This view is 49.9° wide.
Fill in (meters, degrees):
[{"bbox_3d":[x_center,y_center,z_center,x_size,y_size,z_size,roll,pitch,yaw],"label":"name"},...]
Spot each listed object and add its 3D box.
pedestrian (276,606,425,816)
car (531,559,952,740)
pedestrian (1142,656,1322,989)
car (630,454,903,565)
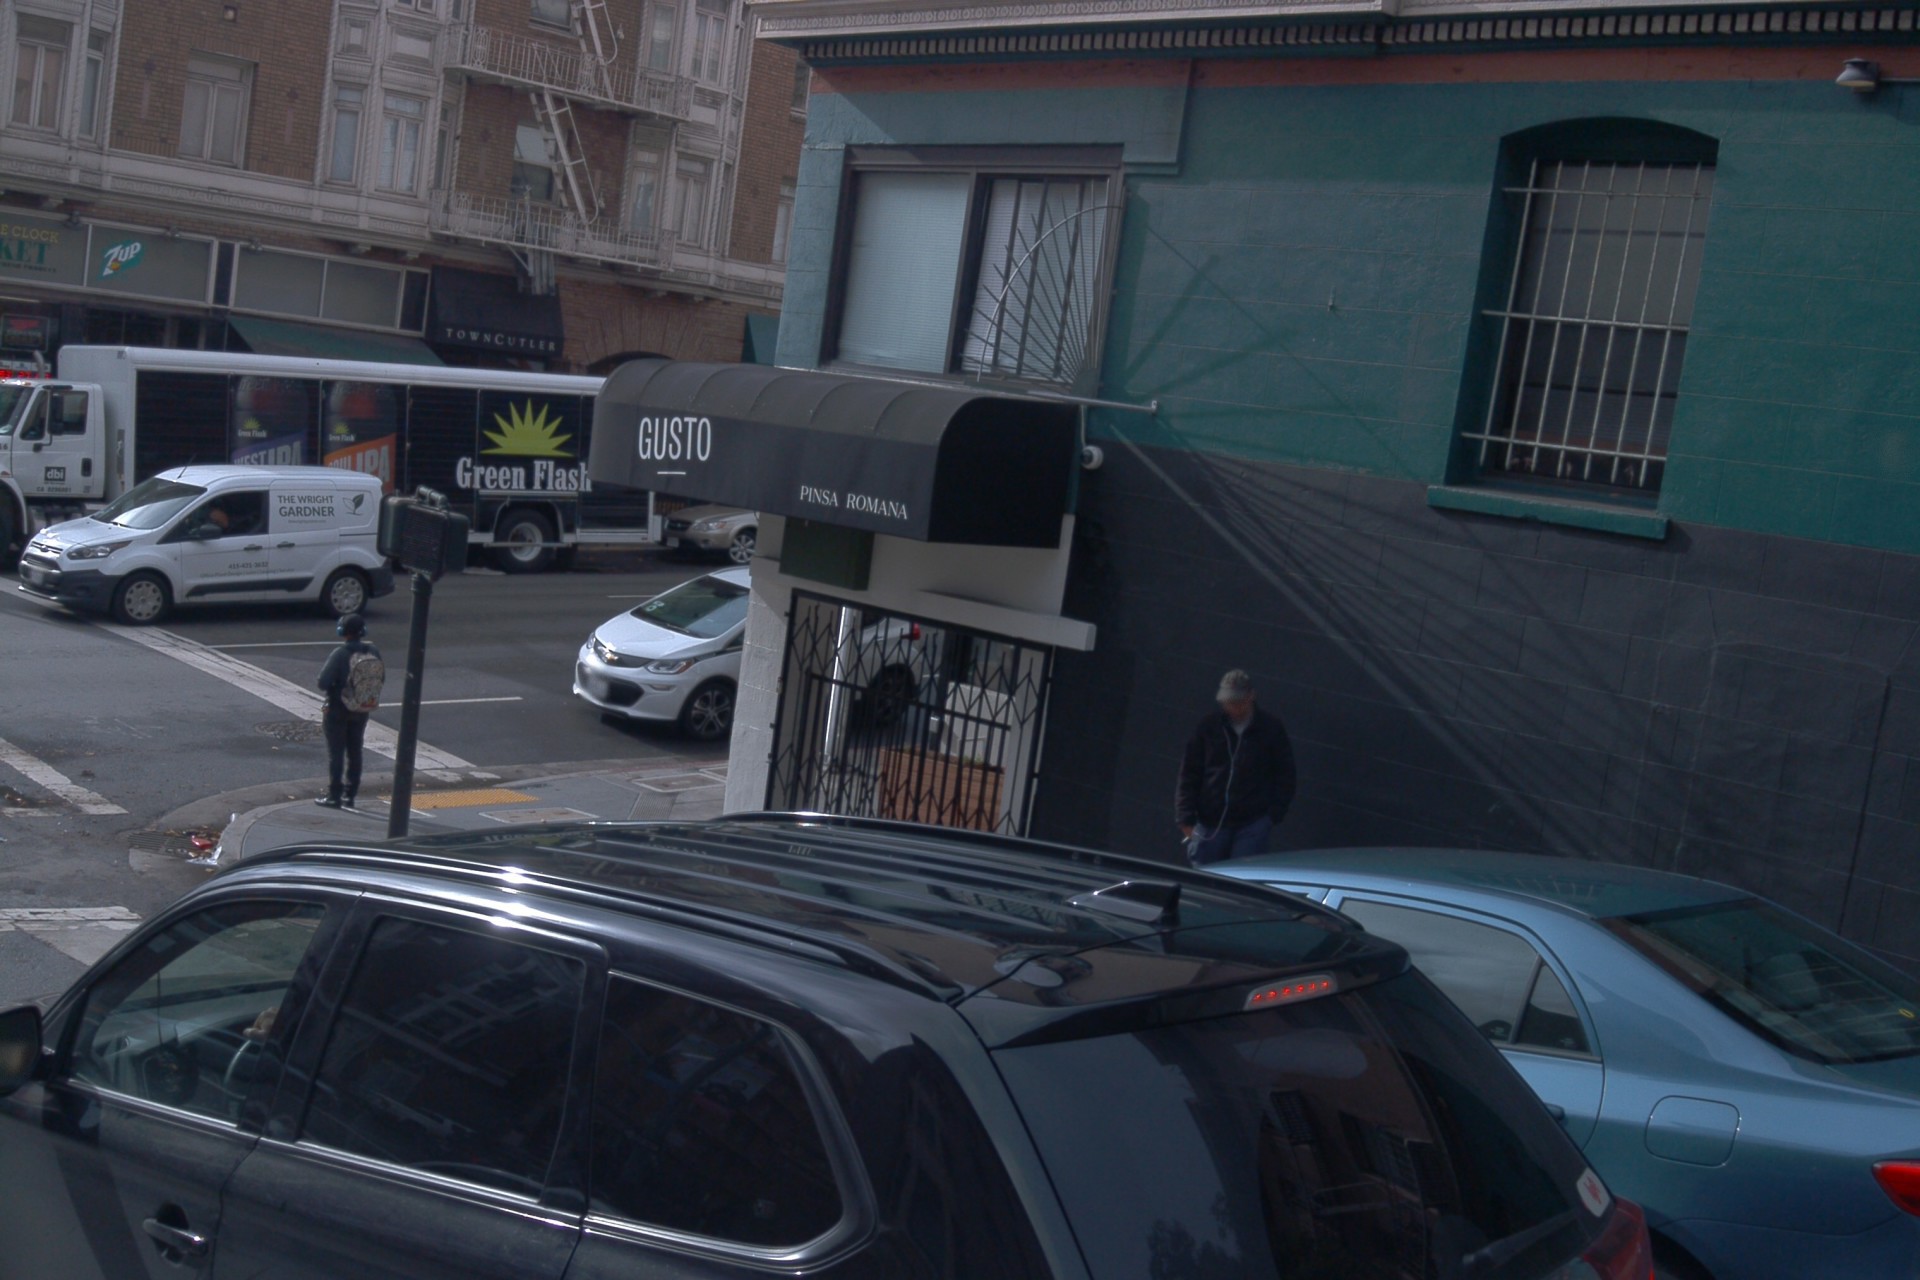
[{"bbox_3d":[-4.829,0.539,16.338,0.929,1.590,0.750,2,1,43],"label":"pedestrian"},{"bbox_3d":[-2.293,0.081,22.543,2.062,1.780,4.279,2,1,42],"label":"car"},{"bbox_3d":[1.570,1.005,11.819,0.853,1.800,0.769,1,1,19],"label":"pedestrian"},{"bbox_3d":[-3.518,-2.353,38.243,2.182,1.770,4.833,2,1,42],"label":"car"}]
